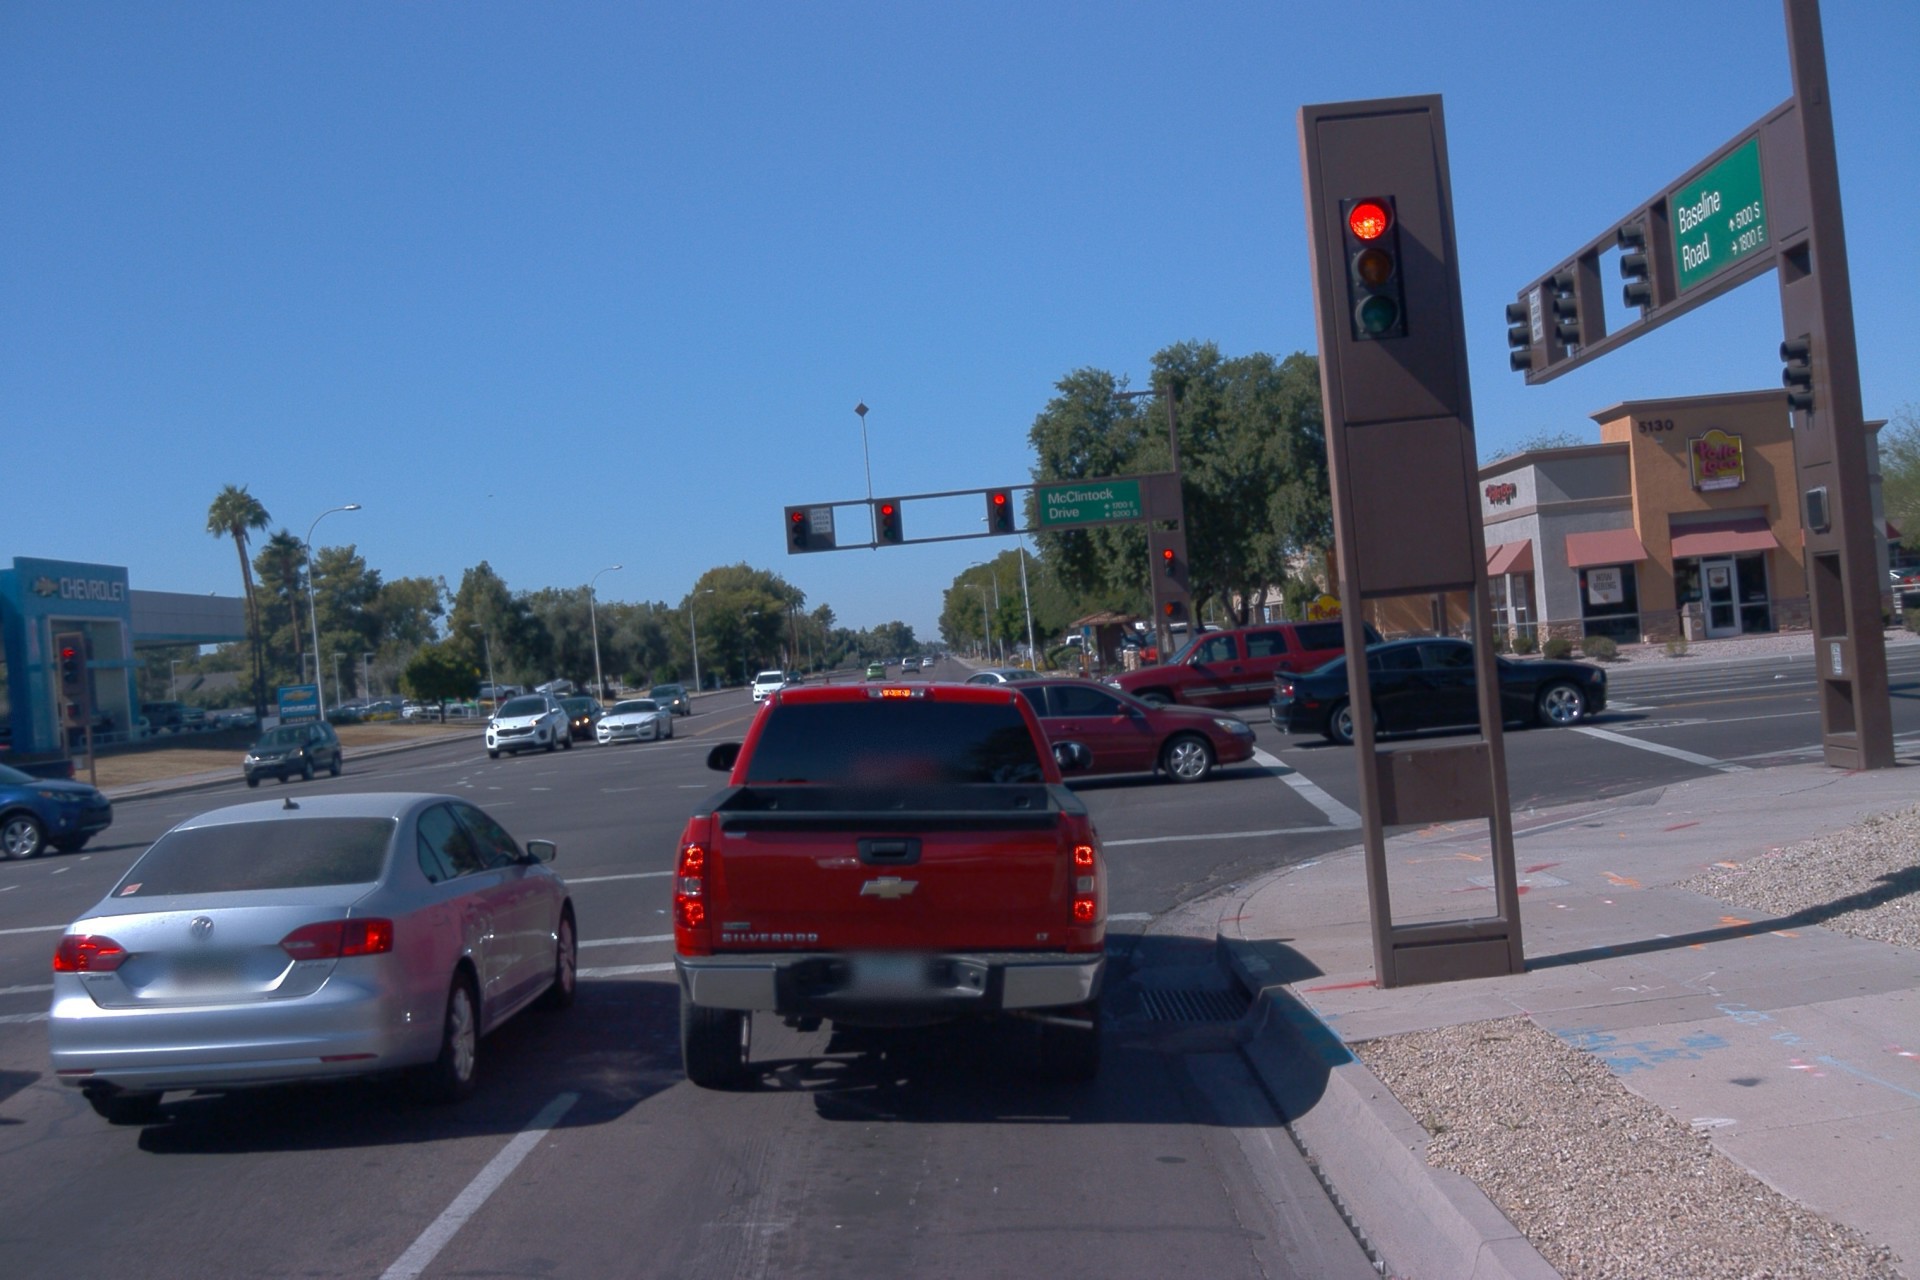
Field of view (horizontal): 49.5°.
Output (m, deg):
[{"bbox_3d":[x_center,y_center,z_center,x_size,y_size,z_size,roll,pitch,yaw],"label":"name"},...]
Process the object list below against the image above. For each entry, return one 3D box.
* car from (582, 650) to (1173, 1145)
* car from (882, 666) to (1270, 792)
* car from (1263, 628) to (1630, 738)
[{"bbox_3d":[-0.390,1.158,11.902,2.538,2.120,5.758,1,-1,-1],"label":"car"},{"bbox_3d":[1.456,1.125,27.038,4.832,1.530,2.015,1,-1,1],"label":"car"},{"bbox_3d":[7.154,0.630,31.020,5.004,1.529,1.998,1,-1,1],"label":"car"}]
